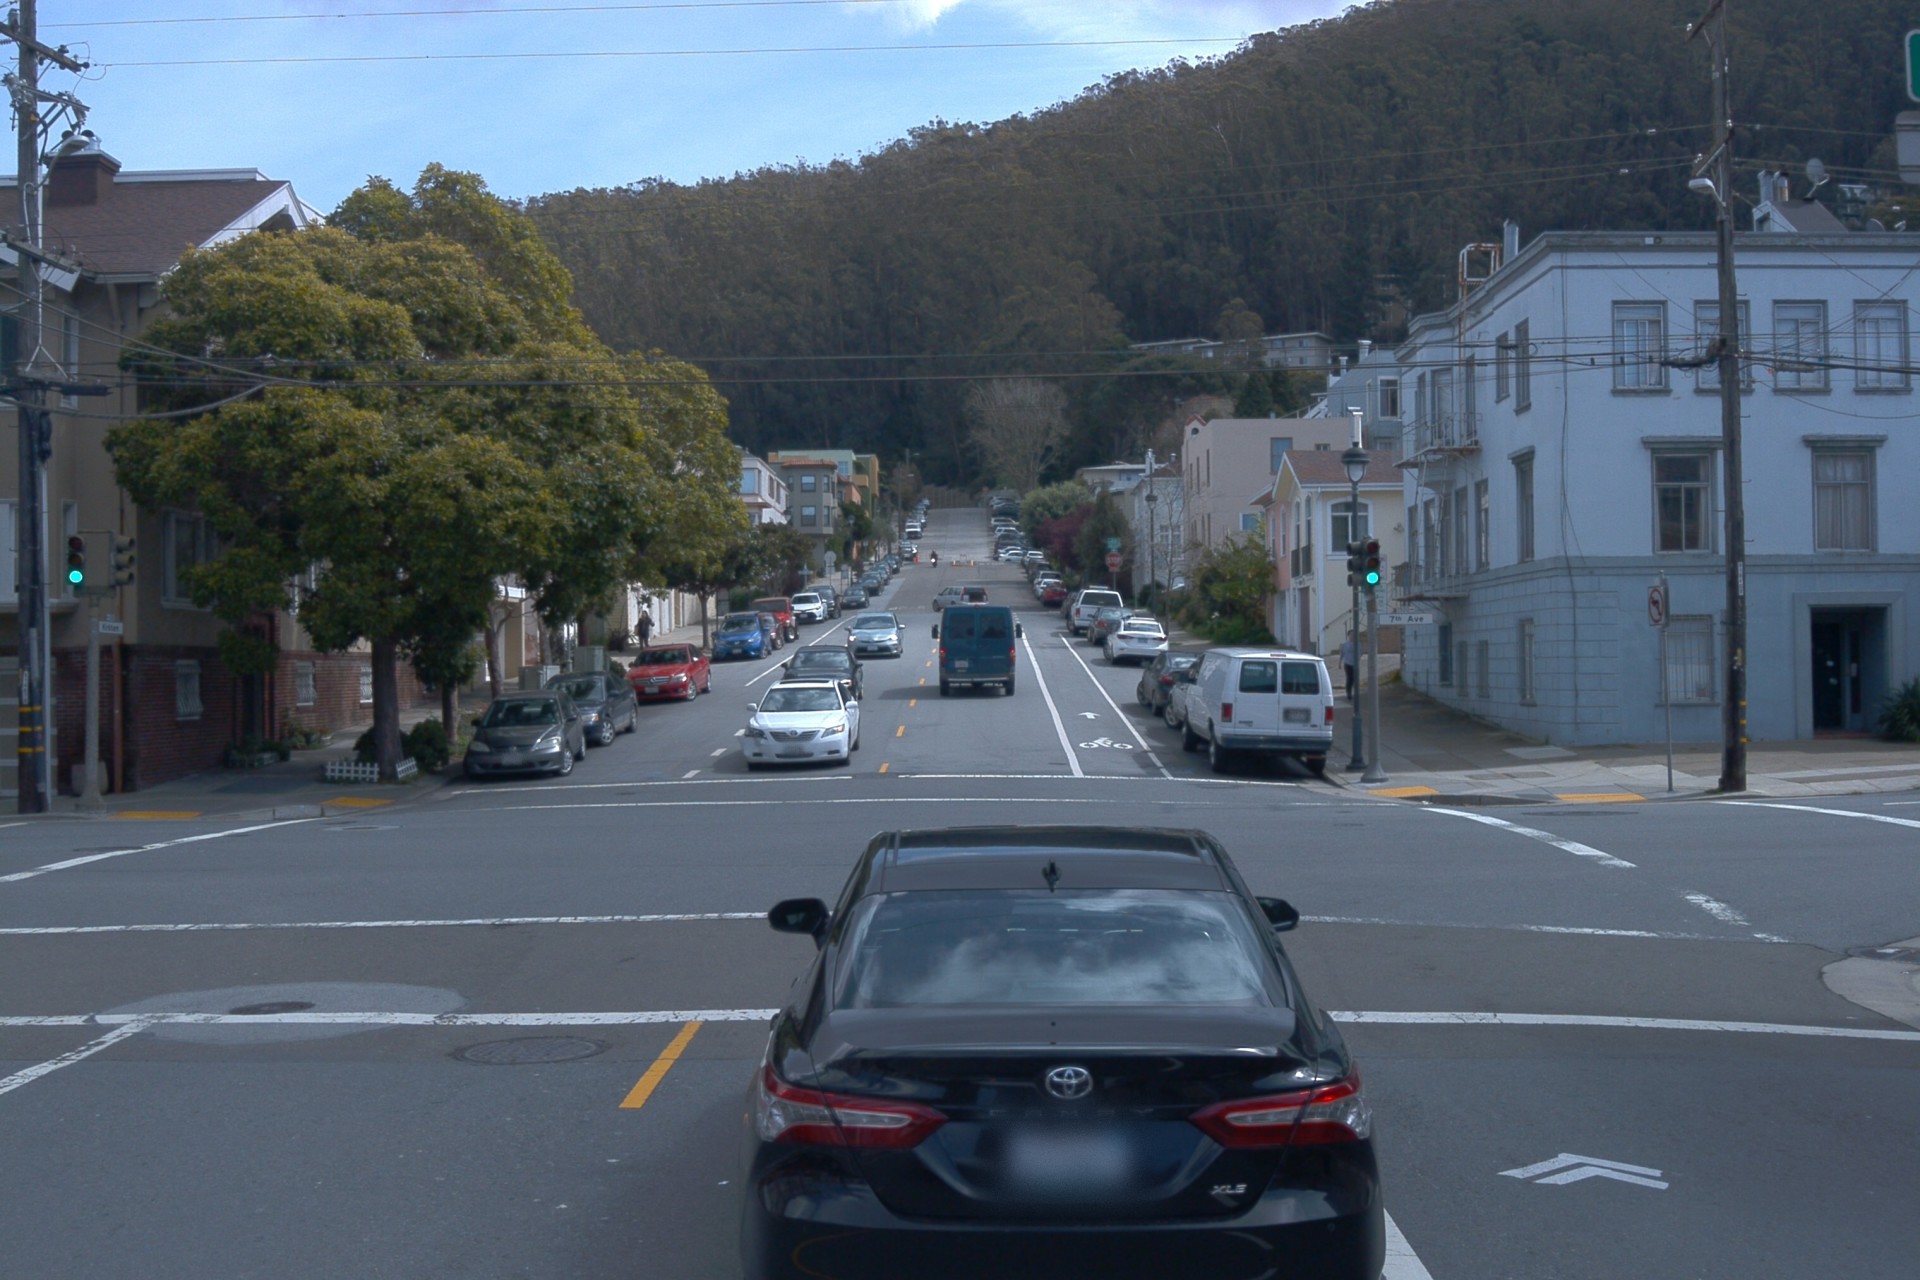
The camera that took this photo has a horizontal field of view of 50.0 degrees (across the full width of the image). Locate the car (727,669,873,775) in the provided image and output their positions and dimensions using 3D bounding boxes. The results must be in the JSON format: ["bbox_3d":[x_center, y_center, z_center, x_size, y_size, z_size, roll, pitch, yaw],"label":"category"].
[{"bbox_3d":[-2.841,1.439,37.636,2.209,1.750,4.541,0,0,1],"label":"car"}]

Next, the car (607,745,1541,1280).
[{"bbox_3d":[0.280,1.306,7.357,2.249,1.620,4.798,0,0,0],"label":"car"}]

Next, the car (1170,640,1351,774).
[{"bbox_3d":[5.316,1.120,37.214,2.299,2.250,5.313,0,0,-2],"label":"car"}]

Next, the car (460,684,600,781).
[{"bbox_3d":[-7.707,1.623,37.253,1.836,1.560,4.133,0,0,-3],"label":"car"}]
